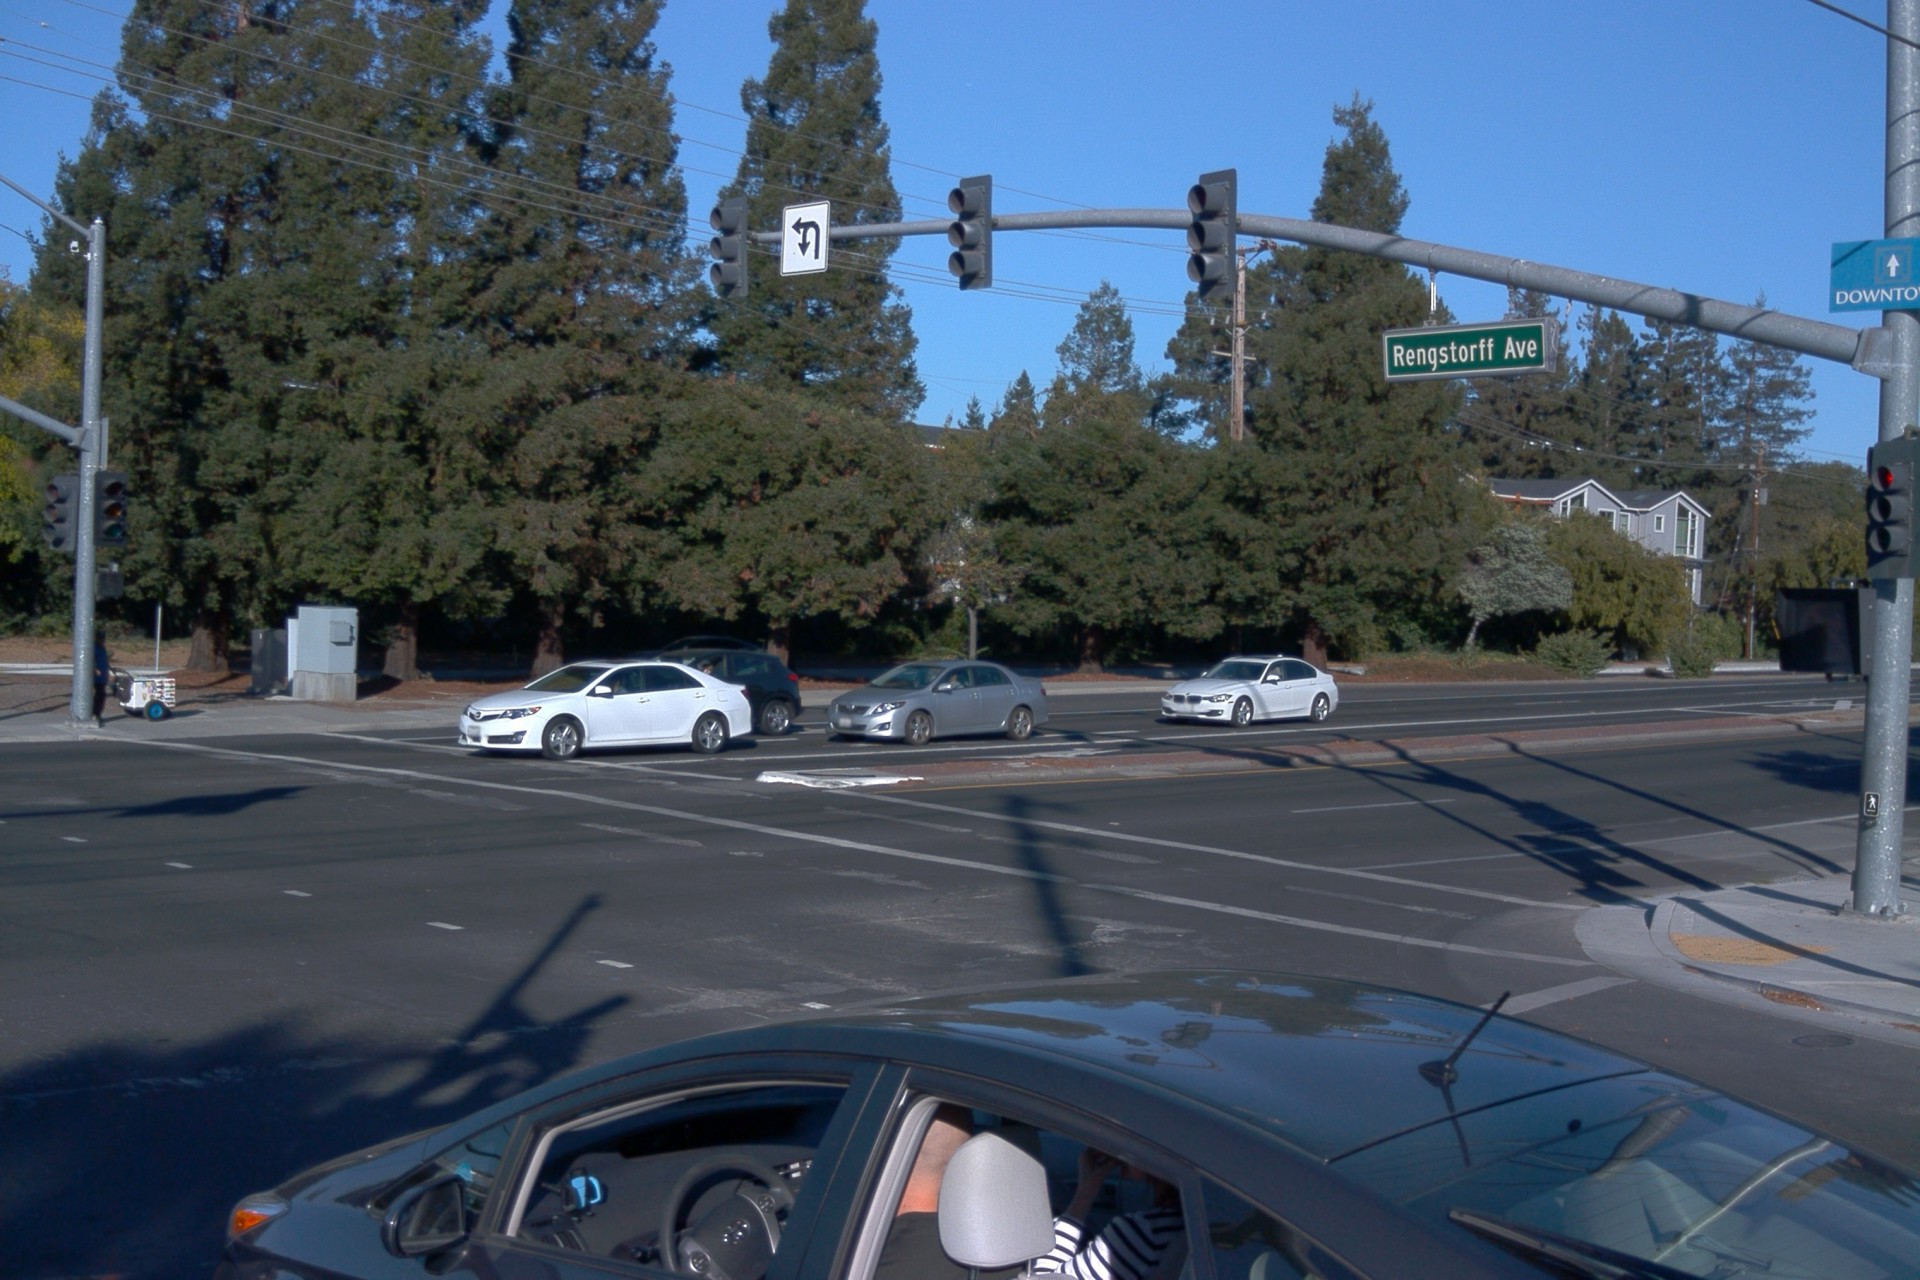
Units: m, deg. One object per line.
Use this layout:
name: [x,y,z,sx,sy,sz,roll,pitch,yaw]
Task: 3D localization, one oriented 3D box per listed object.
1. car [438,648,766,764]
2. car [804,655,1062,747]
car: [-5.482,0.994,32.473,4.729,1.660,1.941,1,-1,-44]
car: [-0.423,1.070,37.298,1.964,1.530,4.507,0,-1,44]
